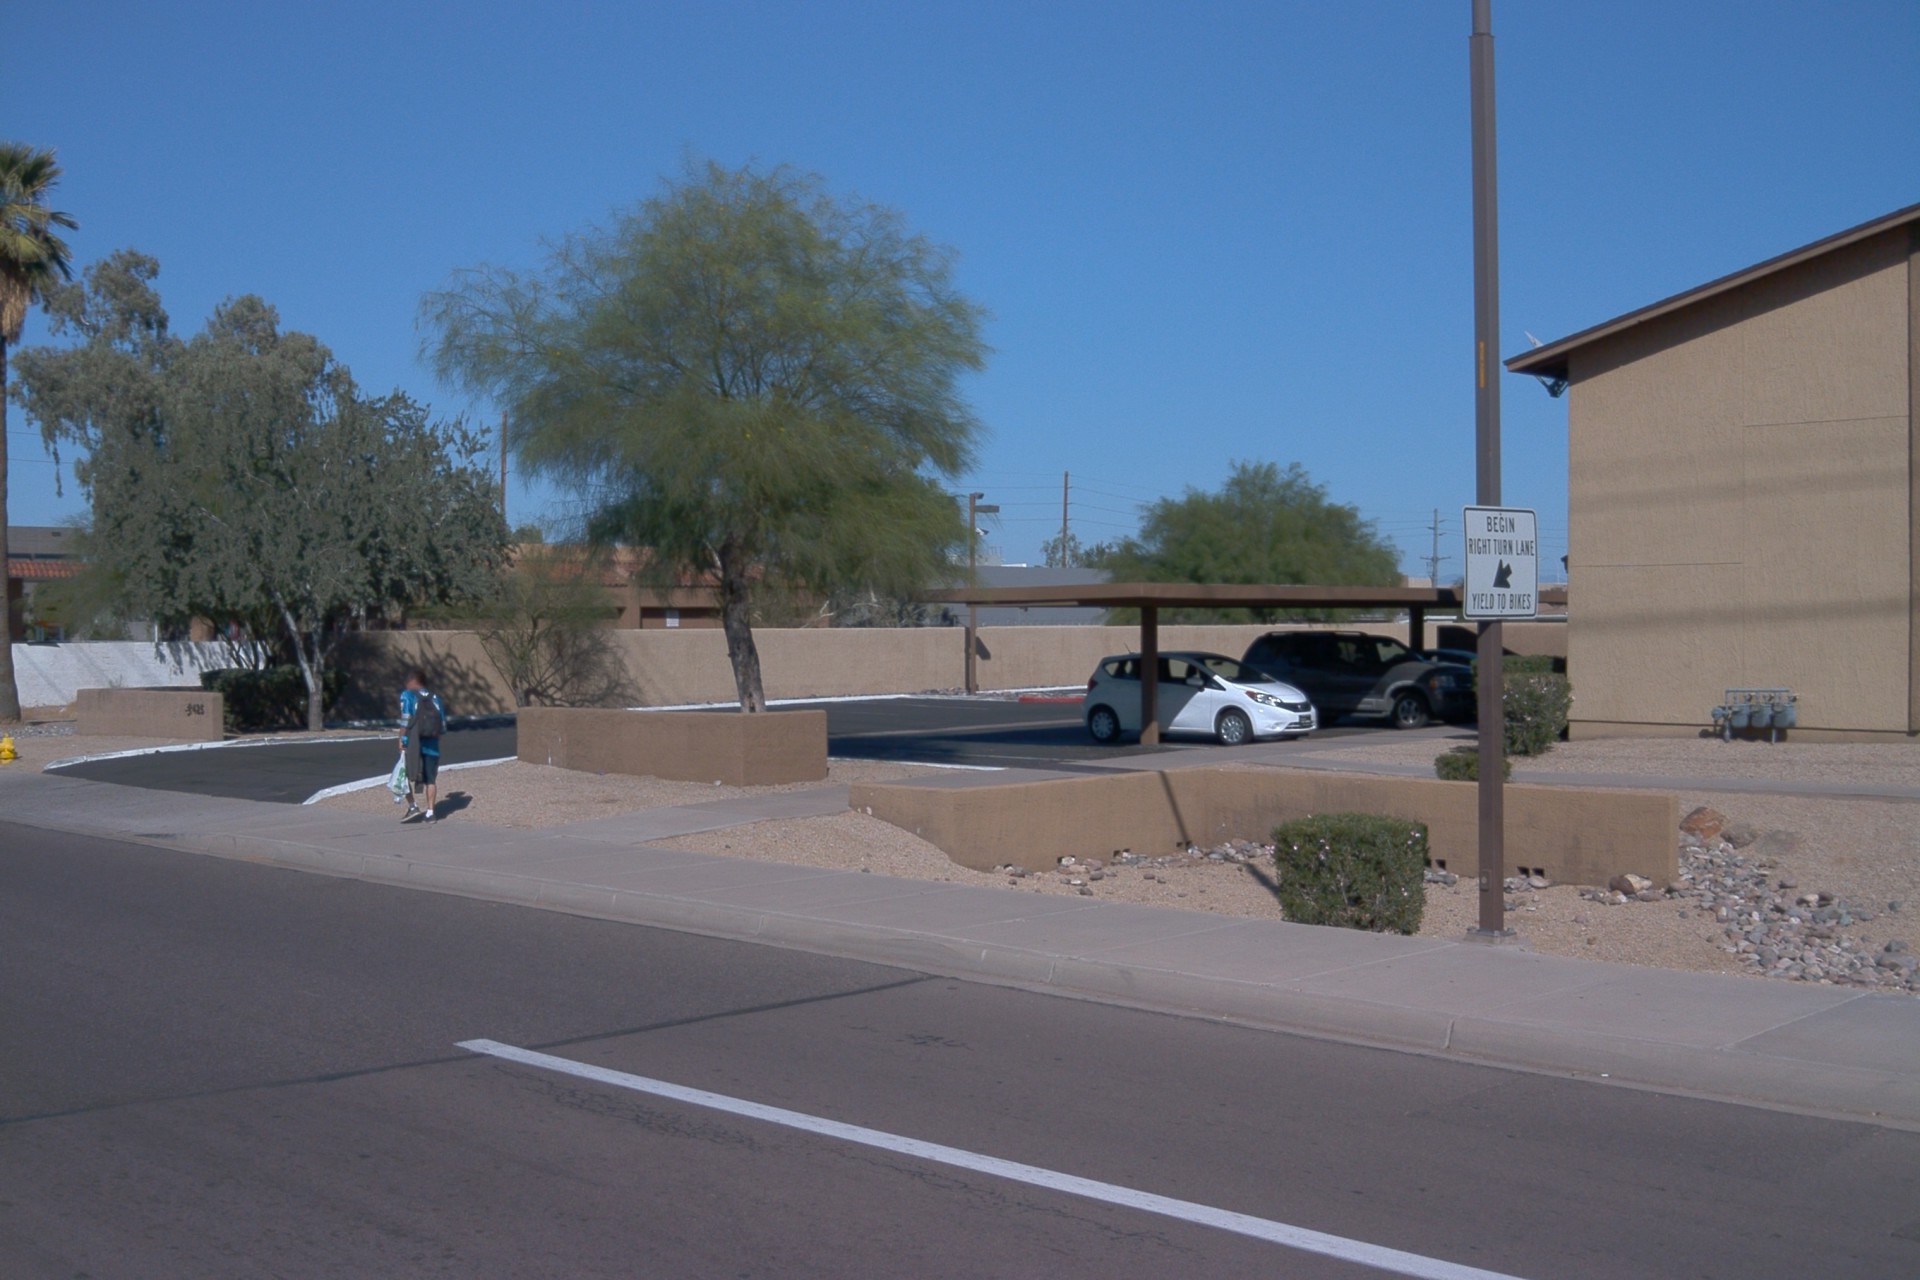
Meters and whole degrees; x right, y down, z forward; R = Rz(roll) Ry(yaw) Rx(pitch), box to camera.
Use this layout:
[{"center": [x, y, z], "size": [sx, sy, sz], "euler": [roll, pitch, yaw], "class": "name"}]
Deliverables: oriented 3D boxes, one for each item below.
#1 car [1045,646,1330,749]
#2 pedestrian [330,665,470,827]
[{"center": [3.736, 0.919, 34.650], "size": [4.415, 1.600, 1.918], "euler": [-1, -1, 42], "class": "car"}, {"center": [-6.285, 1.160, 23.389], "size": [1.144, 1.750, 1.069], "euler": [1, -1, -43], "class": "pedestrian"}]
